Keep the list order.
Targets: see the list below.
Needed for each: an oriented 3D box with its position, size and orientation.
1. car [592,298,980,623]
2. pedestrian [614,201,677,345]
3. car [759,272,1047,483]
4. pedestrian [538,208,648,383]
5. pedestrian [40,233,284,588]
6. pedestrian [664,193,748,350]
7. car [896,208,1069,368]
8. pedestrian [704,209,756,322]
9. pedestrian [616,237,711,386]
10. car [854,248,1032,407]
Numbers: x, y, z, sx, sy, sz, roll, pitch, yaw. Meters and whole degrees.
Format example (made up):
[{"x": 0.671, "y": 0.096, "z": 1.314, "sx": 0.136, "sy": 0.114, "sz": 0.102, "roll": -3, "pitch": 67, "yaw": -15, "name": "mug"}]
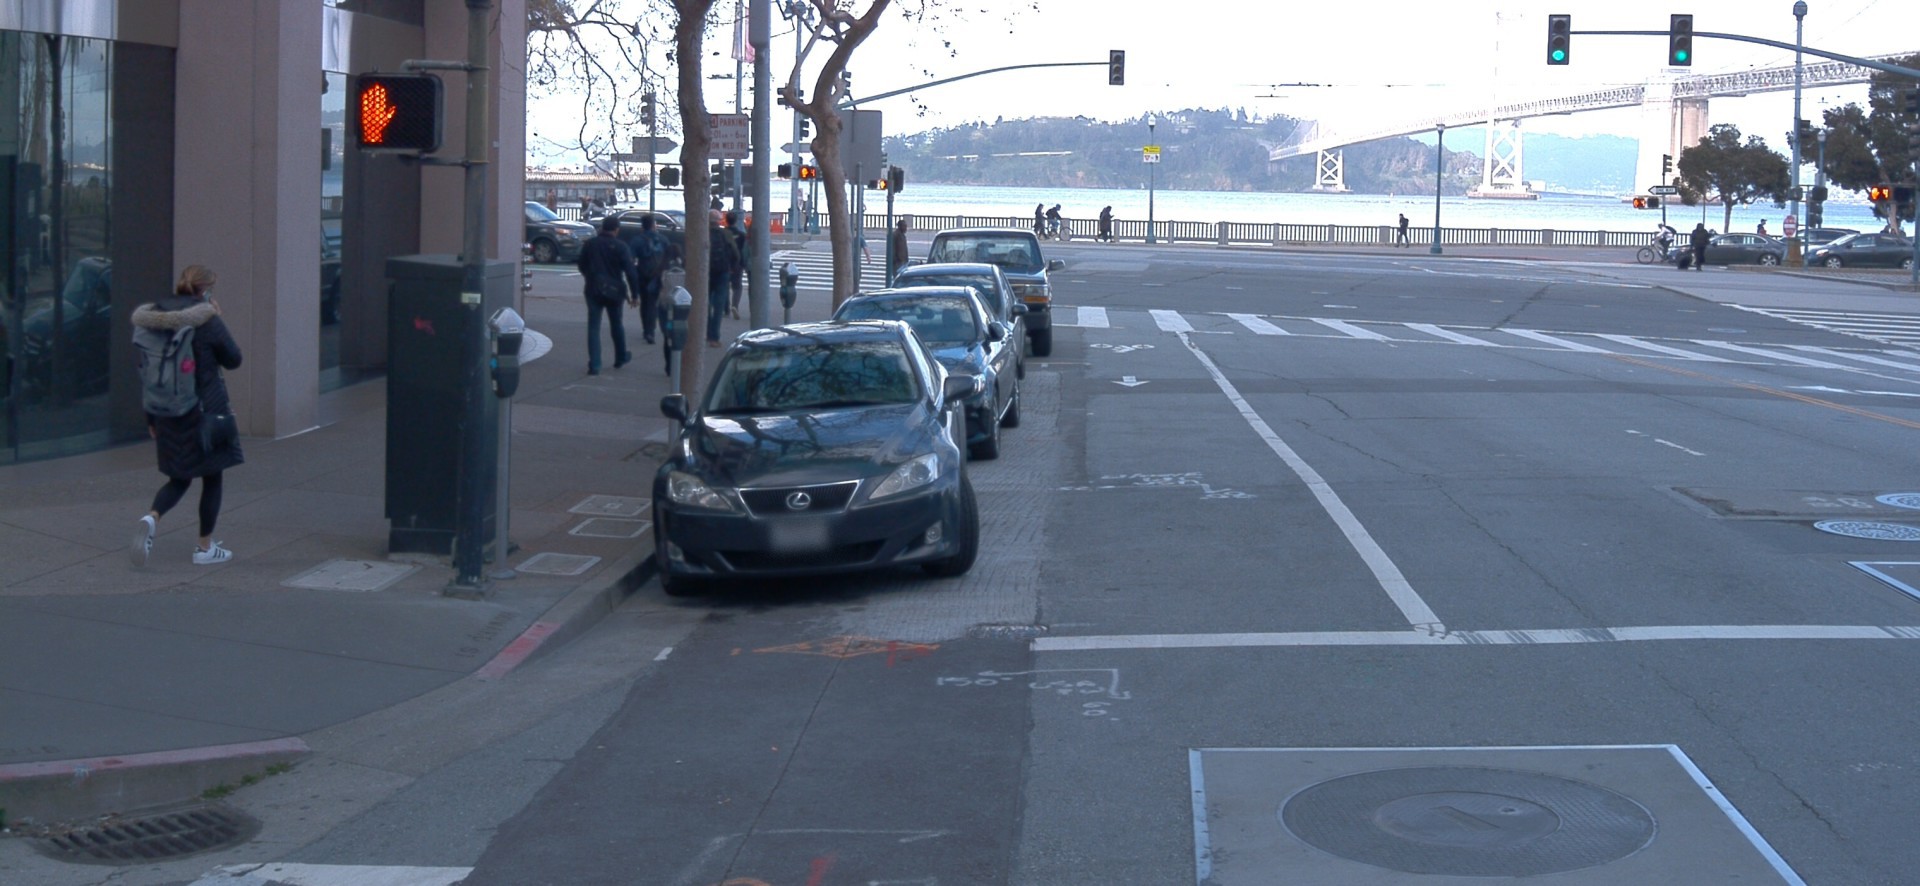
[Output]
[{"x": -0.942, "y": -0.073, "z": 13.407, "sx": 2.078, "sy": 1.501, "sz": 4.783, "roll": 0, "pitch": 6, "yaw": 0, "name": "car"}, {"x": -4.144, "y": -2.262, "z": 27.123, "sx": 0.732, "sy": 1.865, "sz": 0.947, "roll": 0, "pitch": 3, "yaw": -3, "name": "pedestrian"}, {"x": -0.376, "y": -0.734, "z": 19.206, "sx": 2.122, "sy": 1.531, "sz": 4.772, "roll": 0, "pitch": 6, "yaw": 5, "name": "car"}, {"x": -4.046, "y": -1.663, "z": 22.727, "sx": 0.961, "sy": 1.865, "sz": 1.349, "roll": 0, "pitch": 3, "yaw": 0, "name": "pedestrian"}, {"x": -4.303, "y": -0.223, "z": 11.154, "sx": 0.806, "sy": 1.805, "sz": 1.093, "roll": 0, "pitch": 3, "yaw": 6, "name": "pedestrian"}, {"x": -3.391, "y": -2.319, "z": 27.516, "sx": 1.012, "sy": 2.044, "sz": 1.356, "roll": 0, "pitch": 3, "yaw": -3, "name": "pedestrian"}, {"x": 0.388, "y": -2.470, "z": 31.462, "sx": 2.438, "sy": 2.218, "sz": 4.887, "roll": 0, "pitch": 6, "yaw": 2, "name": "car"}, {"x": -3.855, "y": -2.990, "z": 34.485, "sx": 0.841, "sy": 1.855, "sz": 0.774, "roll": 0, "pitch": 2, "yaw": -6, "name": "pedestrian"}, {"x": -3.260, "y": -1.467, "z": 22.633, "sx": 0.873, "sy": 1.586, "sz": 1.034, "roll": 0, "pitch": 3, "yaw": 1, "name": "pedestrian"}, {"x": -0.118, "y": -1.472, "z": 24.683, "sx": 1.889, "sy": 1.641, "sz": 4.066, "roll": 0, "pitch": 6, "yaw": 3, "name": "car"}]
